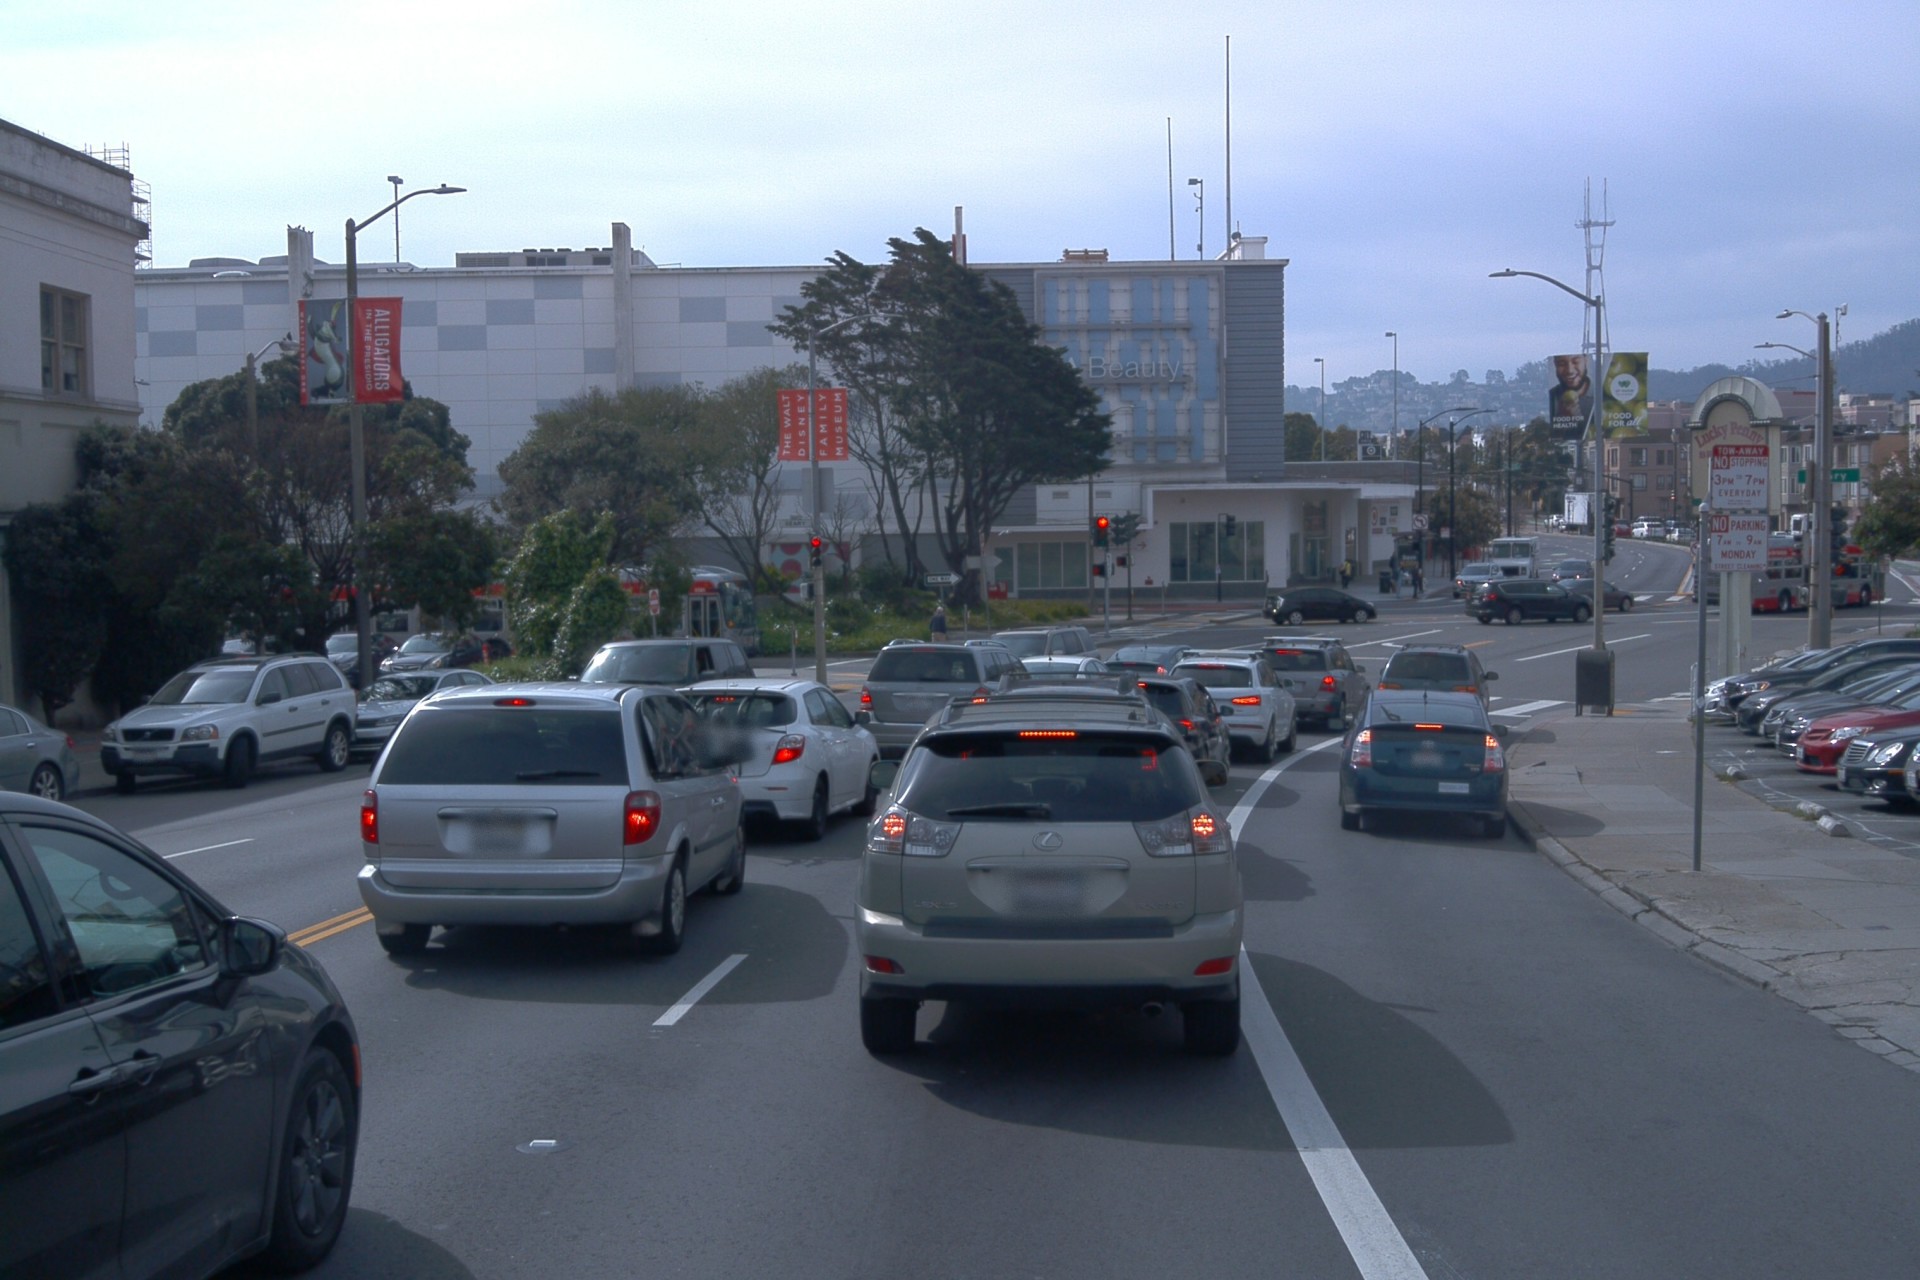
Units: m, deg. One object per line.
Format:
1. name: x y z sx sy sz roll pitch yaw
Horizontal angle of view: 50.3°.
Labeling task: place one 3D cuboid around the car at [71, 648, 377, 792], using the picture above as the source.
1. car: -10.287 1.048 29.044 2.060 1.800 4.806 1 0 8

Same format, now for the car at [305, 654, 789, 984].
1. car: -2.601 1.049 14.189 2.131 1.830 4.635 1 0 4

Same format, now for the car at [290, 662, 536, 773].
1. car: -9.024 1.226 34.192 1.977 1.640 4.663 1 0 14

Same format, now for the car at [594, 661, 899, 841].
1. car: -2.003 1.020 20.596 1.982 1.530 4.306 1 0 9

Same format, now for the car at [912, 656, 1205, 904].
1. car: 1.028 1.117 18.391 2.119 1.870 4.391 1 0 10

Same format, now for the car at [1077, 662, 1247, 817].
1. car: 2.698 1.211 26.588 1.526 1.780 3.939 1 0 16

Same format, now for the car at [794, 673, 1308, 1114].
1. car: 0.470 1.124 11.049 2.197 1.780 4.467 1 0 2

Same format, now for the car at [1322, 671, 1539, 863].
1. car: 5.157 1.301 22.825 2.113 1.790 4.646 1 0 11

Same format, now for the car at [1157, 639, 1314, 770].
1. car: 4.392 0.944 32.148 1.795 1.880 4.044 1 0 17

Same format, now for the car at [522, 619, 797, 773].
1. car: -4.087 0.707 28.811 2.247 1.960 4.914 1 0 12

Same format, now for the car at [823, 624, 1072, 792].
1. car: -0.048 0.847 28.415 2.236 2.100 4.827 1 0 15
